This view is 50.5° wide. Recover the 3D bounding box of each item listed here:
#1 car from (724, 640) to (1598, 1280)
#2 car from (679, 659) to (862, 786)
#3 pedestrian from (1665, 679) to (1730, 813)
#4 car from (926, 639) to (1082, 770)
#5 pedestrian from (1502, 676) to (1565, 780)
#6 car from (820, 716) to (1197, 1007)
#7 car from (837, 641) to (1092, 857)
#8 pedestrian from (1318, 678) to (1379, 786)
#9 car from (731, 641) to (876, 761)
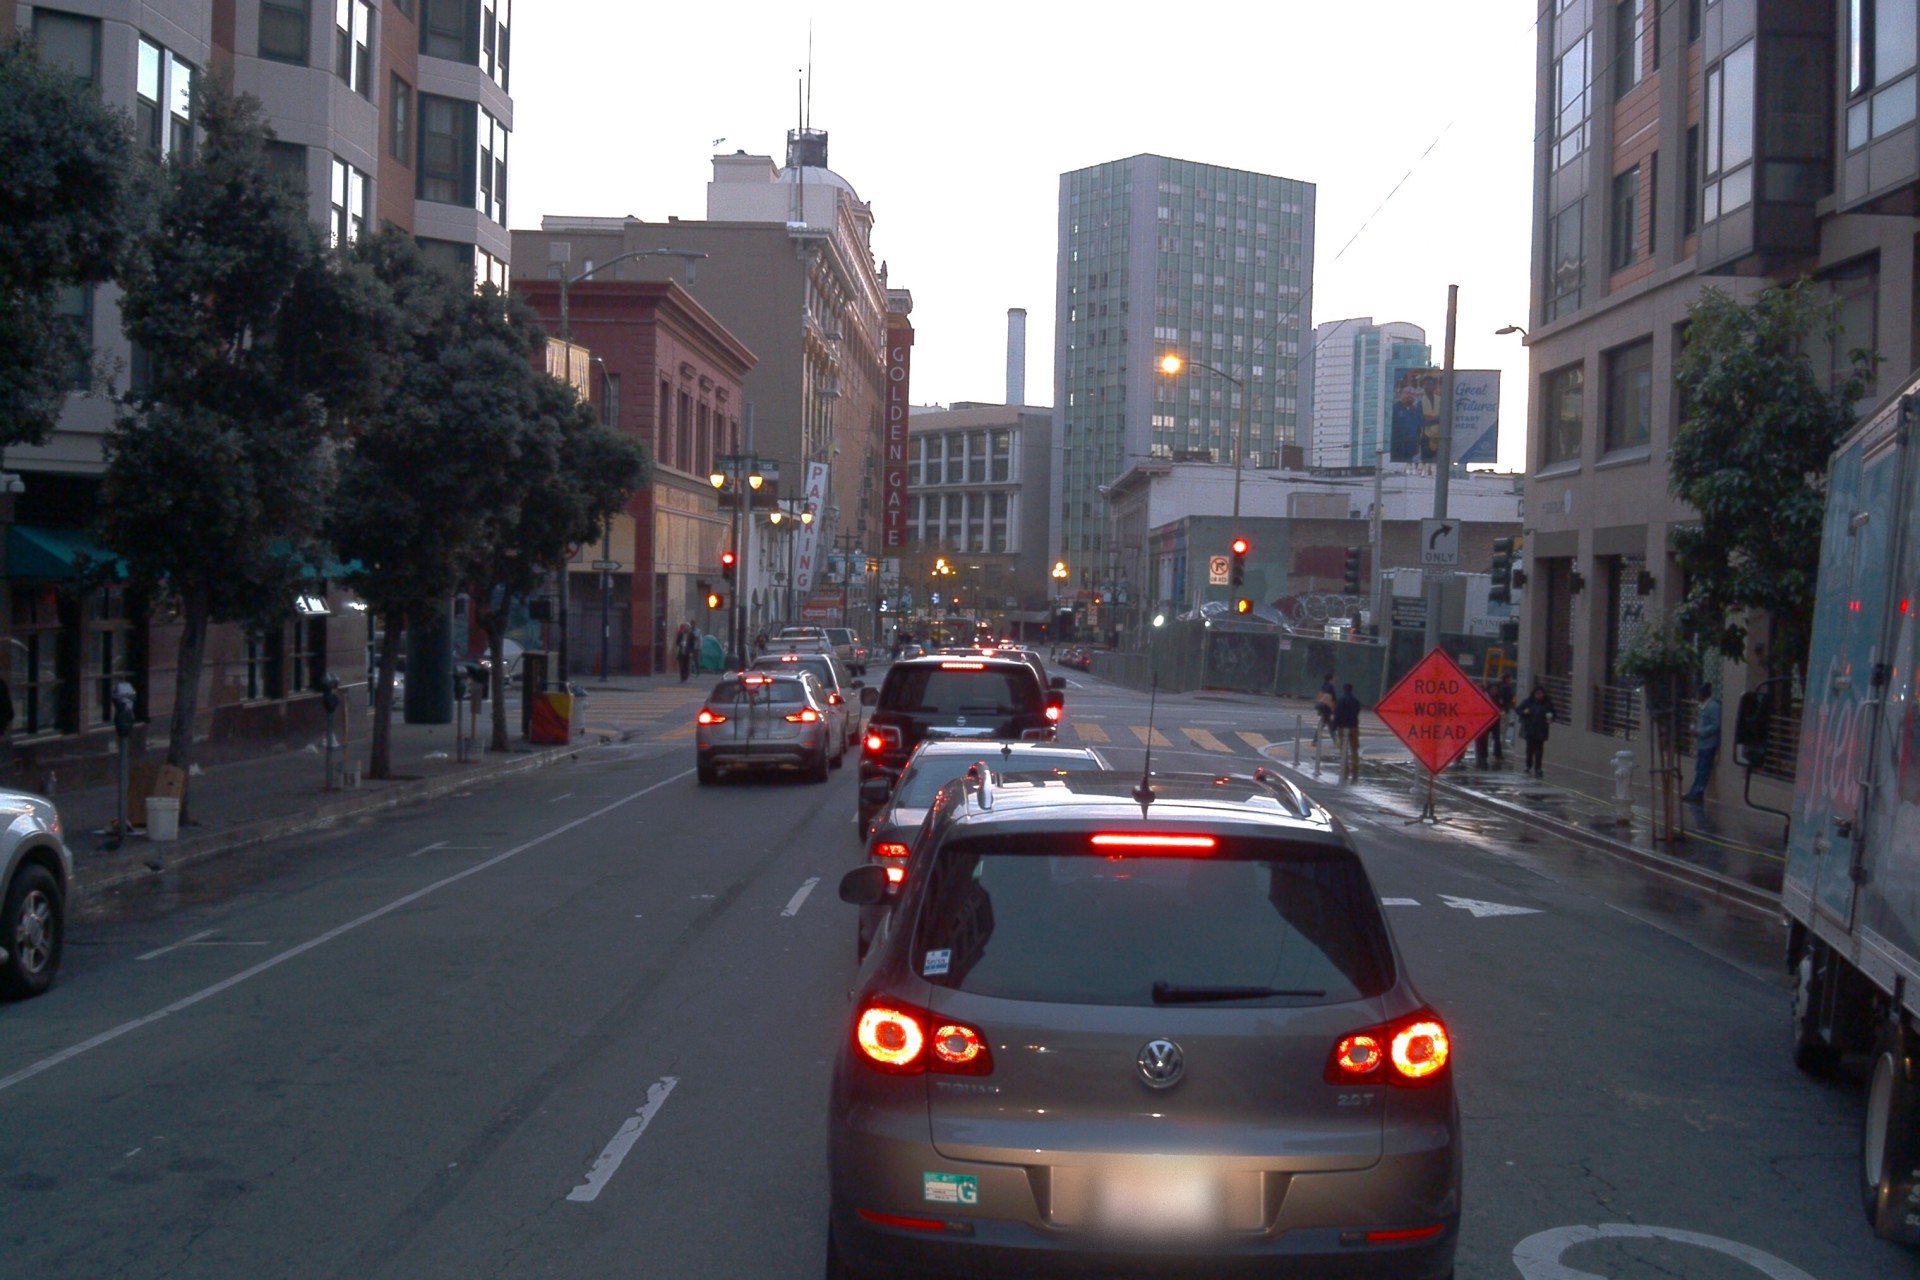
[{"bbox_3d":[0.546,1.063,7.023,2.109,2.050,3.981,1,1,2],"label":"car"},{"bbox_3d":[-2.614,1.111,29.097,2.110,1.572,4.118,1,1,1],"label":"car"},{"bbox_3d":[10.762,1.533,29.715,0.659,1.890,0.755,1,1,4],"label":"pedestrian"},{"bbox_3d":[0.622,0.856,29.391,2.036,1.650,4.678,1,1,1],"label":"car"},{"bbox_3d":[10.077,1.530,35.792,0.879,1.760,0.904,1,1,6],"label":"pedestrian"},{"bbox_3d":[0.292,1.324,13.592,2.089,1.400,4.279,1,1,1],"label":"car"},{"bbox_3d":[0.036,1.029,21.904,2.368,1.940,5.339,1,1,0],"label":"car"},{"bbox_3d":[6.687,1.576,35.069,0.777,1.790,0.924,1,1,-5],"label":"pedestrian"},{"bbox_3d":[-2.657,0.998,35.547,1.896,1.880,4.462,1,1,4],"label":"car"}]
